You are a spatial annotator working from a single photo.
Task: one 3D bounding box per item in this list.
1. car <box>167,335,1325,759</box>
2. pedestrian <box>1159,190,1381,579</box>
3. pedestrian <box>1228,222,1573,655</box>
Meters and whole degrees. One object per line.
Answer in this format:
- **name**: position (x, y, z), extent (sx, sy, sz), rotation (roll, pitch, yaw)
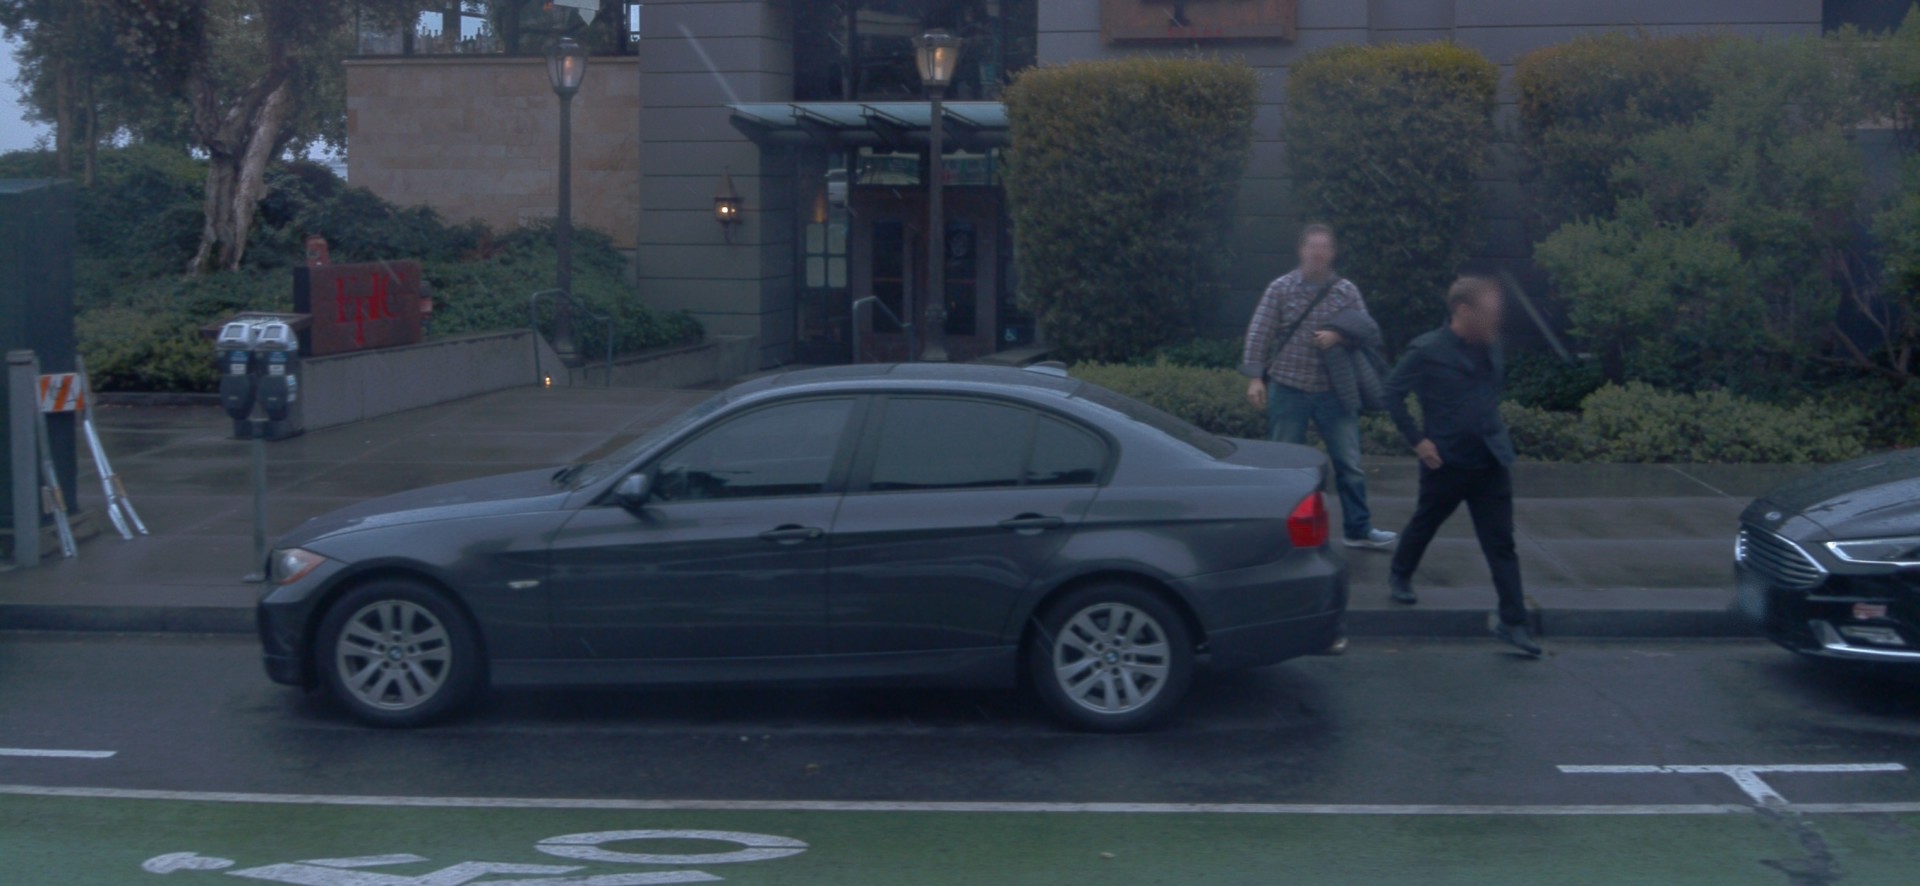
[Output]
- **car**: position (-0.803, 0.345, 9.062), extent (4.500, 1.495, 2.090), rotation (0, 4, 1)
- **pedestrian**: position (1.702, -0.371, 11.487), extent (1.159, 2.047, 1.063), rotation (0, 2, 6)
- **pedestrian**: position (2.101, -0.093, 9.981), extent (1.273, 1.936, 1.049), rotation (-1, 2, -20)
